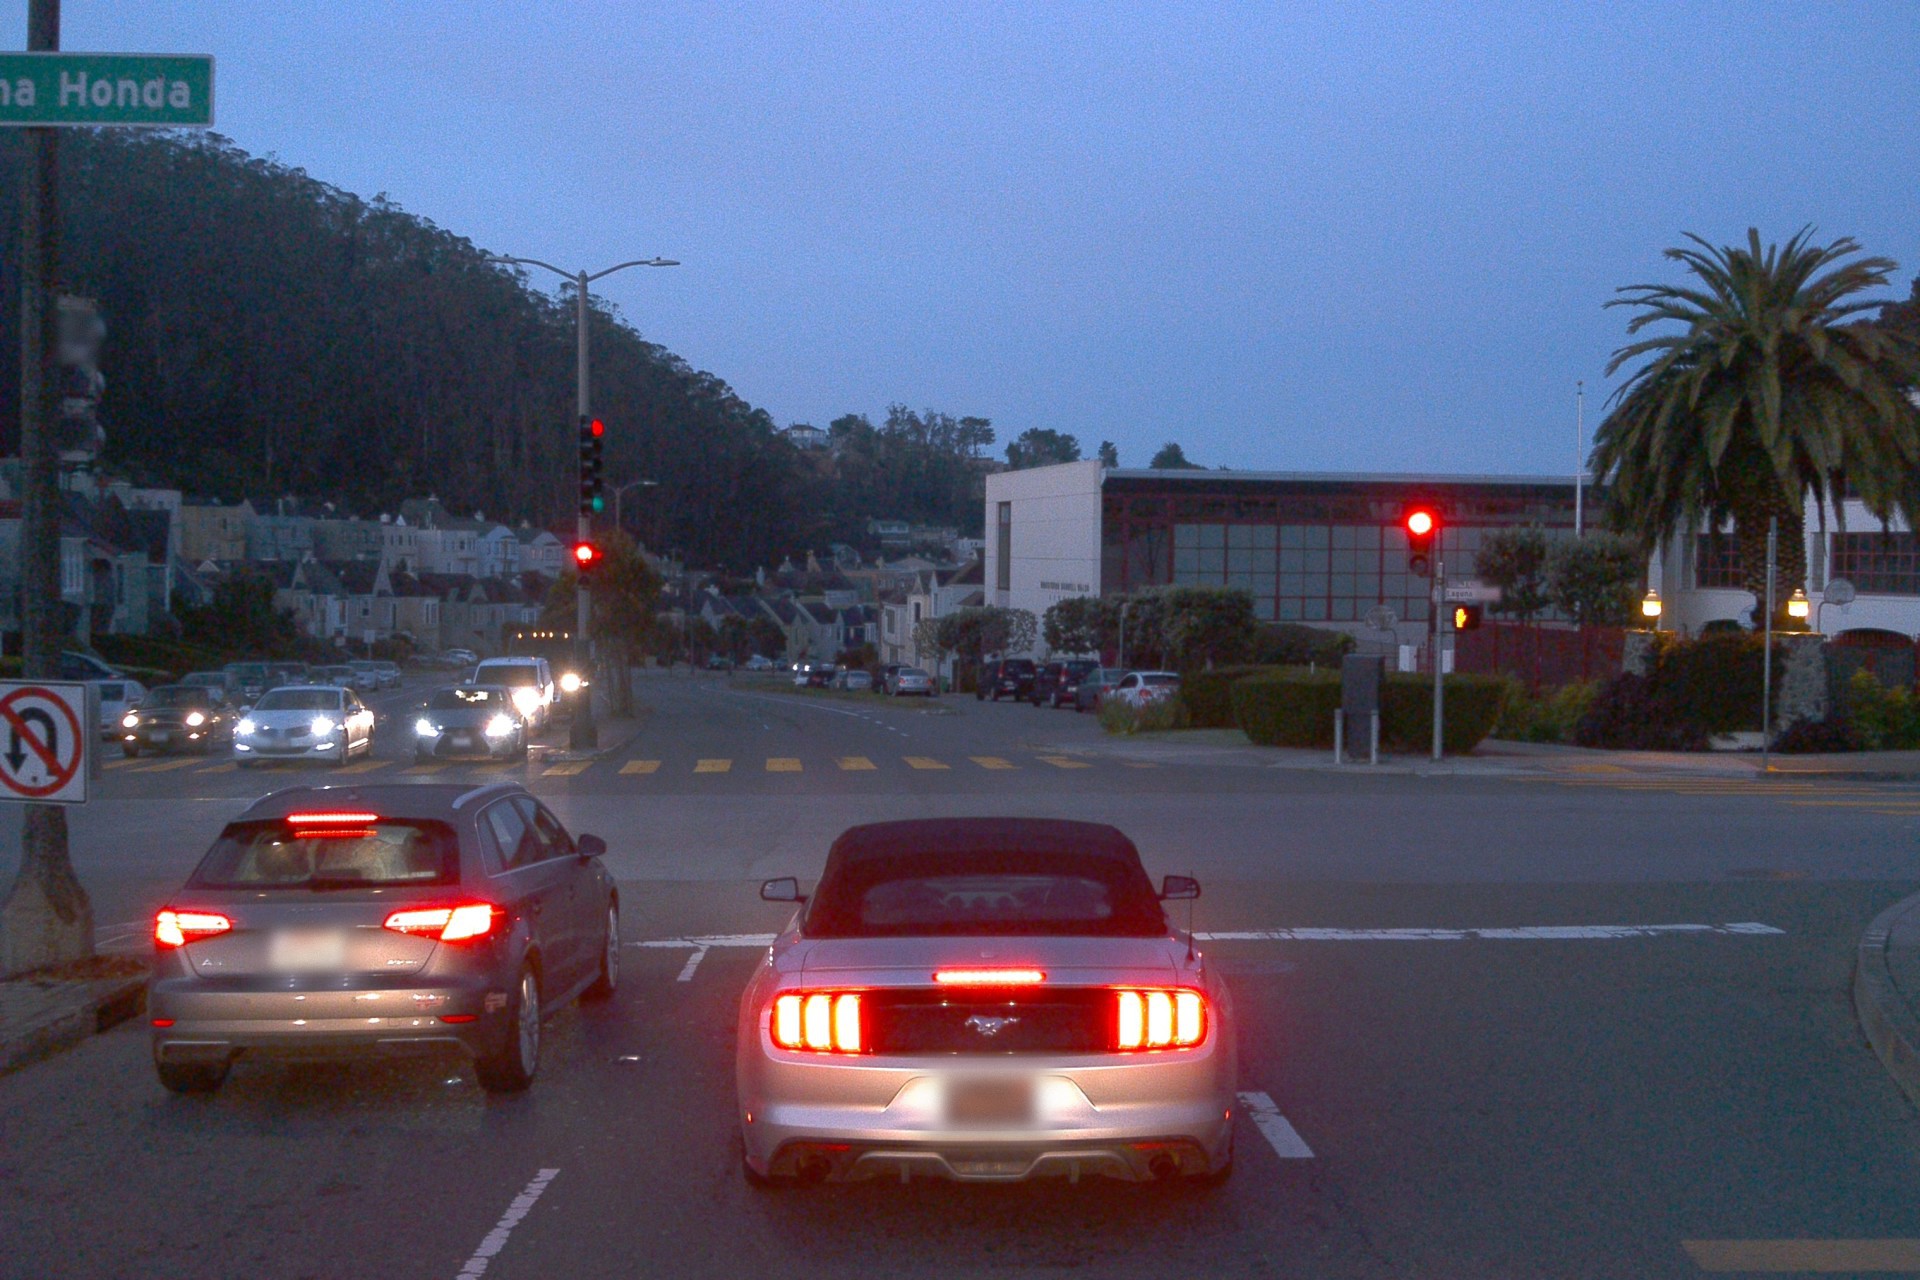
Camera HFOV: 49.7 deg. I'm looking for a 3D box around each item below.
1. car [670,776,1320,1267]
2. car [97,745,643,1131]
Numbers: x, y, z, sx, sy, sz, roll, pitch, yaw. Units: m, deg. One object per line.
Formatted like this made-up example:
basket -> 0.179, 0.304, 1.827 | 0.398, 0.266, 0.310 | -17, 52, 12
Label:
car -> 0.099, 1.418, 9.110 | 2.174, 1.380, 4.355 | 0, 0, 0
car -> -2.886, 1.405, 11.058 | 1.782, 1.510, 3.987 | 0, 0, 0
